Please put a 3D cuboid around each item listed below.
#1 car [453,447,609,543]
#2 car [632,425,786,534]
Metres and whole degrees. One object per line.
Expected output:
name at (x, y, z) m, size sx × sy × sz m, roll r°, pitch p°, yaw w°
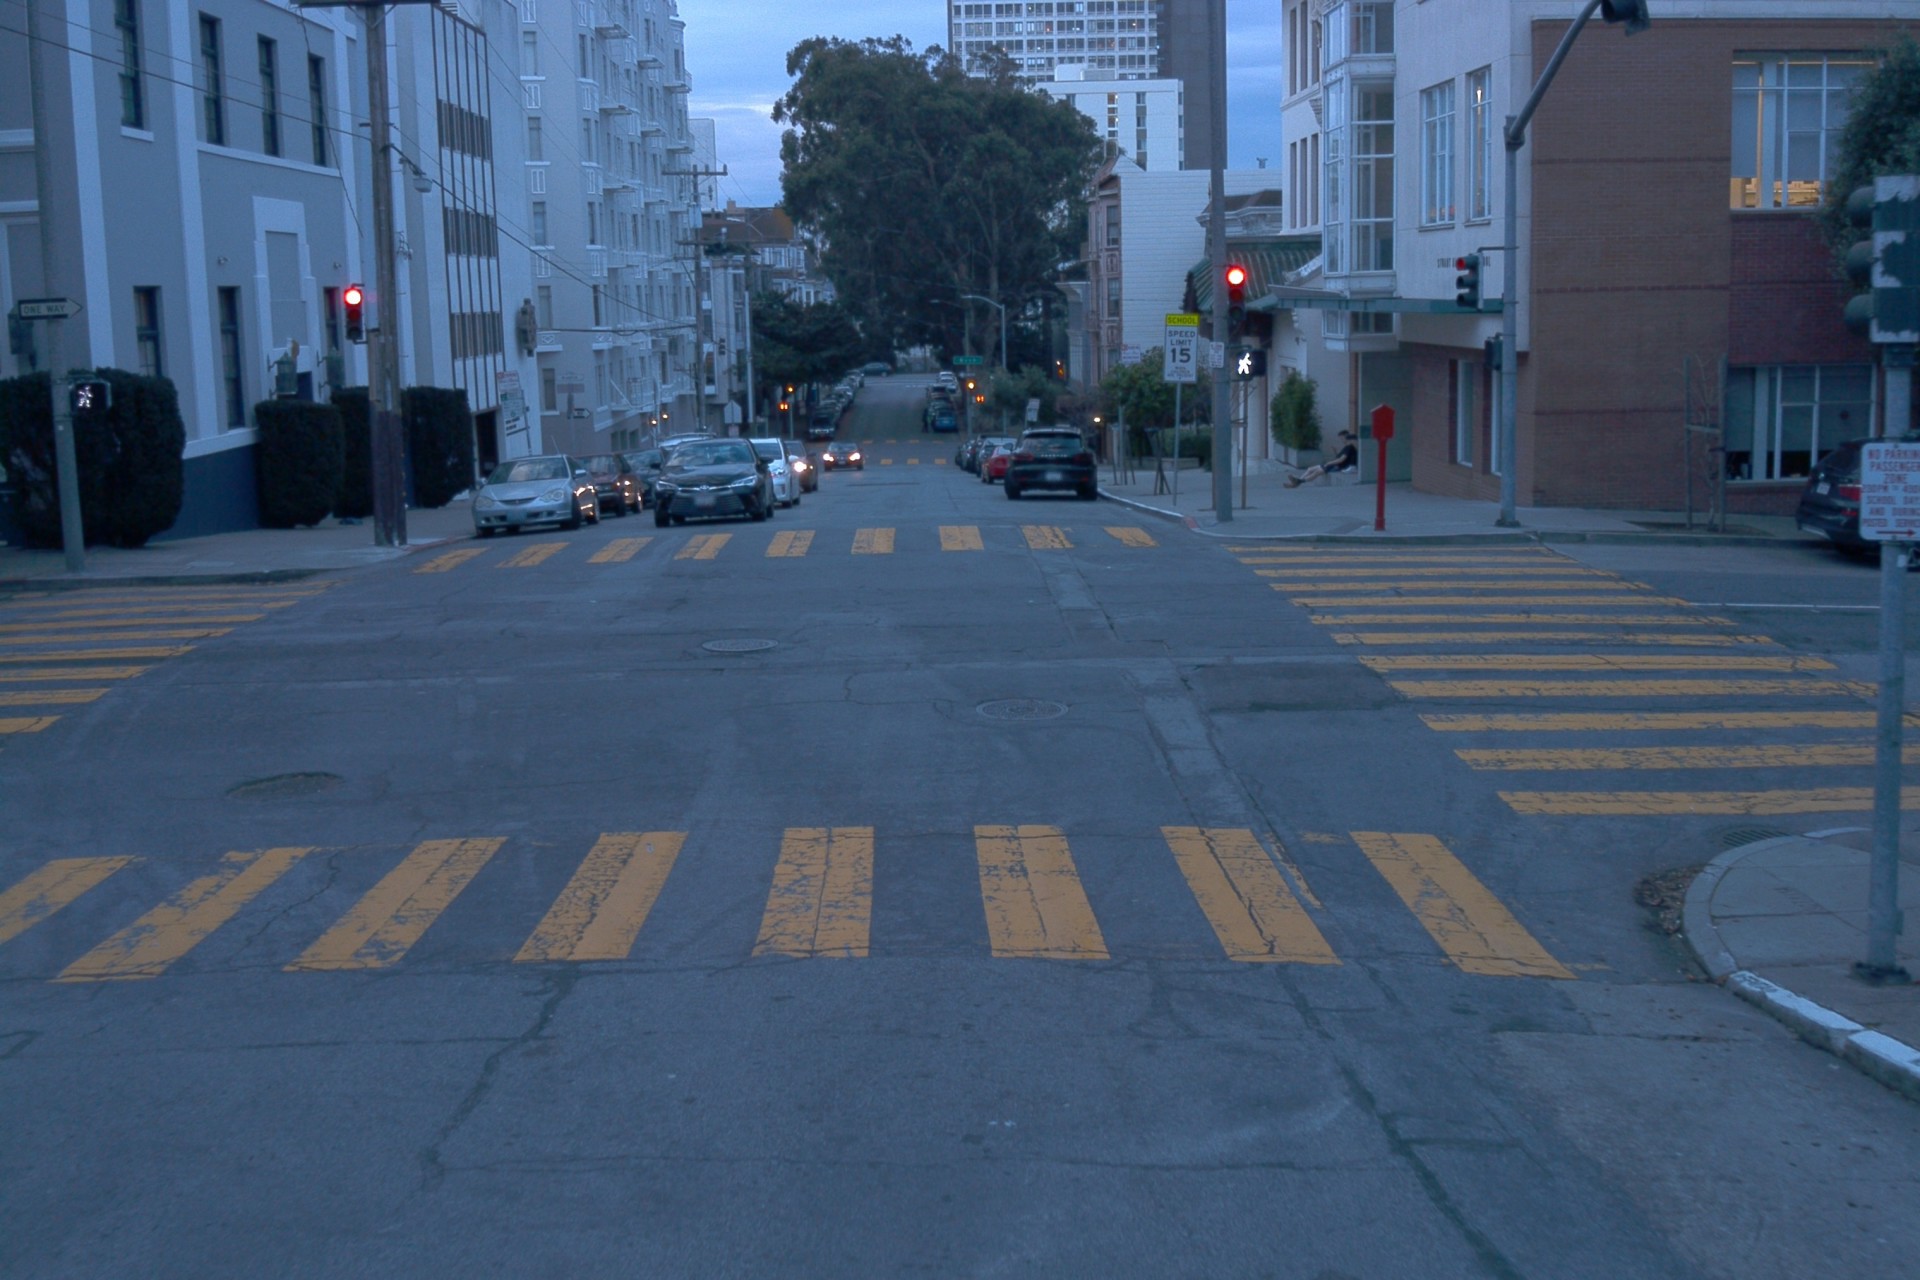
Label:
car at (-7.605, -2.550, 36.870) m, size 1.992 × 1.450 × 4.399 m, roll 1°, pitch 1°, yaw -2°
car at (-4.188, -2.674, 35.069) m, size 2.144 × 1.530 × 4.749 m, roll 1°, pitch 1°, yaw -2°
